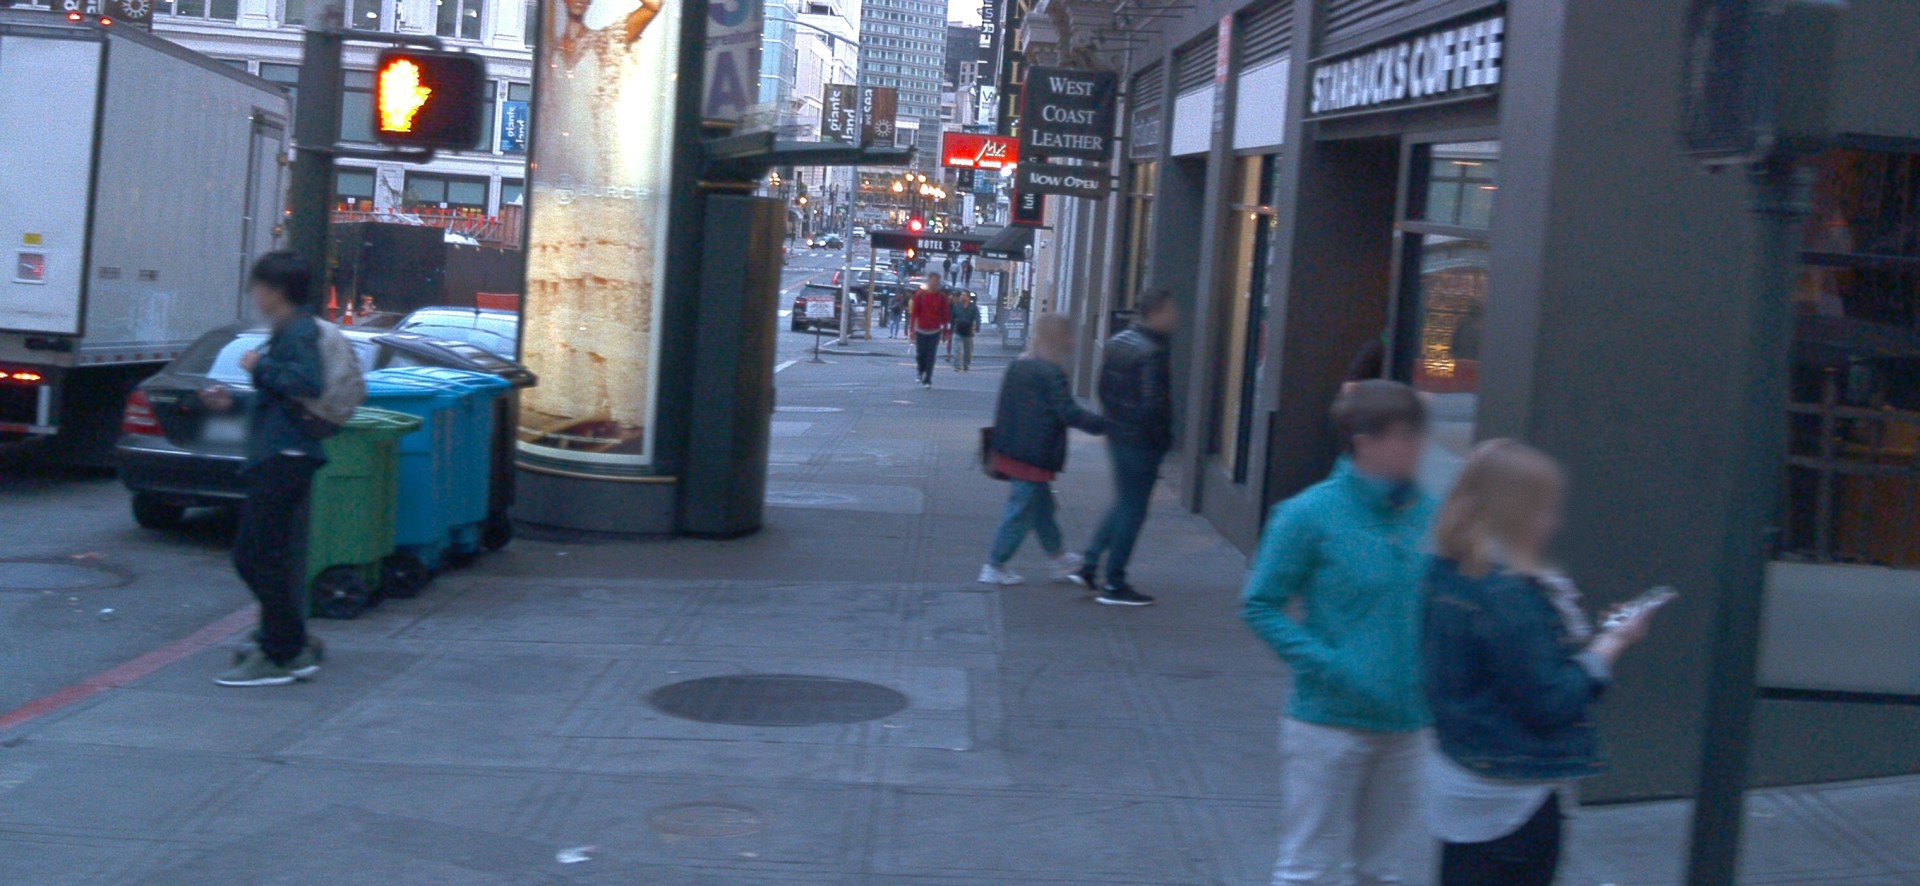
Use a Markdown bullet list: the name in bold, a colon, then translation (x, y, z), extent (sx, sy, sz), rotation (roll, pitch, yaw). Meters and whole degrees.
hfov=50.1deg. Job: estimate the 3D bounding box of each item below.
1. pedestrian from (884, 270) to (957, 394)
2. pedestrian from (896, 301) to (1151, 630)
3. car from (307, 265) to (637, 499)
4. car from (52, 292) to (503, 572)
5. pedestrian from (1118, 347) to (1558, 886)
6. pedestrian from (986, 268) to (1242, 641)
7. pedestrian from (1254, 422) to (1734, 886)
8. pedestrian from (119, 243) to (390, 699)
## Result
- **pedestrian**: translation (-0.610, -1.768, 32.447), extent (1.121, 1.900, 1.056), rotation (0, 1, 0)
- **pedestrian**: translation (0.358, 0.070, 11.560), extent (1.038, 1.691, 0.998), rotation (-2, 2, -44)
- **car**: translation (-4.605, -0.720, 20.109), extent (2.058, 1.970, 4.320), rotation (0, 5, 2)
- **car**: translation (-4.629, -0.232, 14.675), extent (1.938, 1.564, 4.428), rotation (0, 5, -3)
- **pedestrian**: translation (0.886, 0.655, 5.108), extent (0.784, 1.719, 1.100), rotation (0, 2, -7)
- **pedestrian**: translation (0.815, 0.004, 10.938), extent (1.068, 1.850, 0.841), rotation (-1, 2, -34)
- **pedestrian**: translation (1.125, 0.771, 4.488), extent (0.899, 1.569, 0.681), rotation (0, 1, 3)
- **pedestrian**: translation (-2.878, 0.076, 8.451), extent (0.880, 1.795, 0.679), rotation (0, 1, -1)
